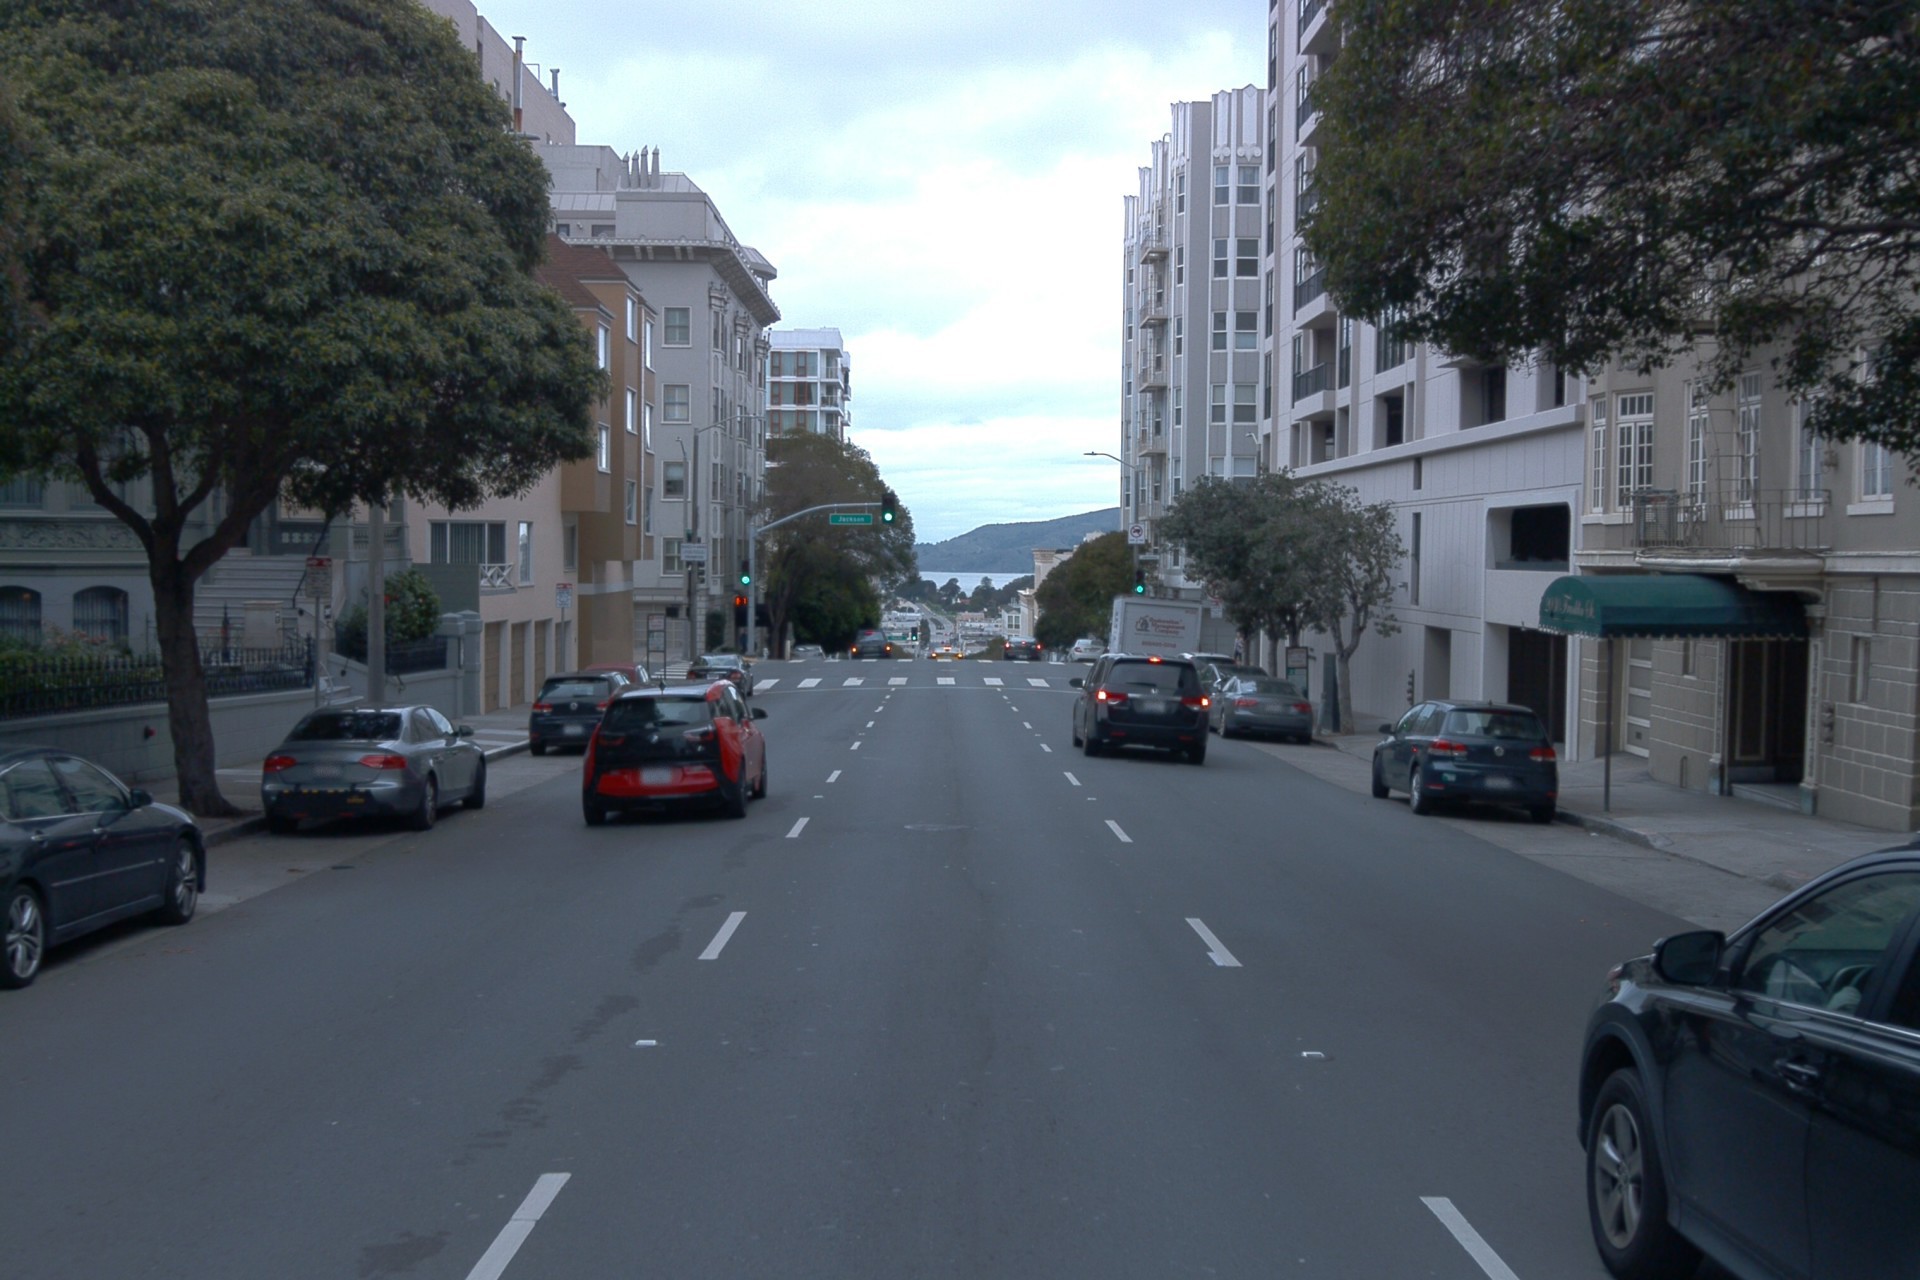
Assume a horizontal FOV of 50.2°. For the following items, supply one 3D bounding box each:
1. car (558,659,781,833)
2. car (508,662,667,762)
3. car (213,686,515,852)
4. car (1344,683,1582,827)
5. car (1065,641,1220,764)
[{"bbox_3d":[-3.271,1.148,23.881,2.065,1.780,4.070,0,1,-1],"label":"car"},{"bbox_3d":[-6.713,1.265,37.455,2.142,1.630,4.453,0,1,-1],"label":"car"},{"bbox_3d":[-6.789,1.408,23.966,2.174,1.580,4.975,0,0,-1],"label":"car"},{"bbox_3d":[6.591,1.458,27.402,2.084,1.630,4.515,0,1,0],"label":"car"},{"bbox_3d":[3.003,0.984,34.755,2.200,1.890,4.938,0,1,0],"label":"car"}]
